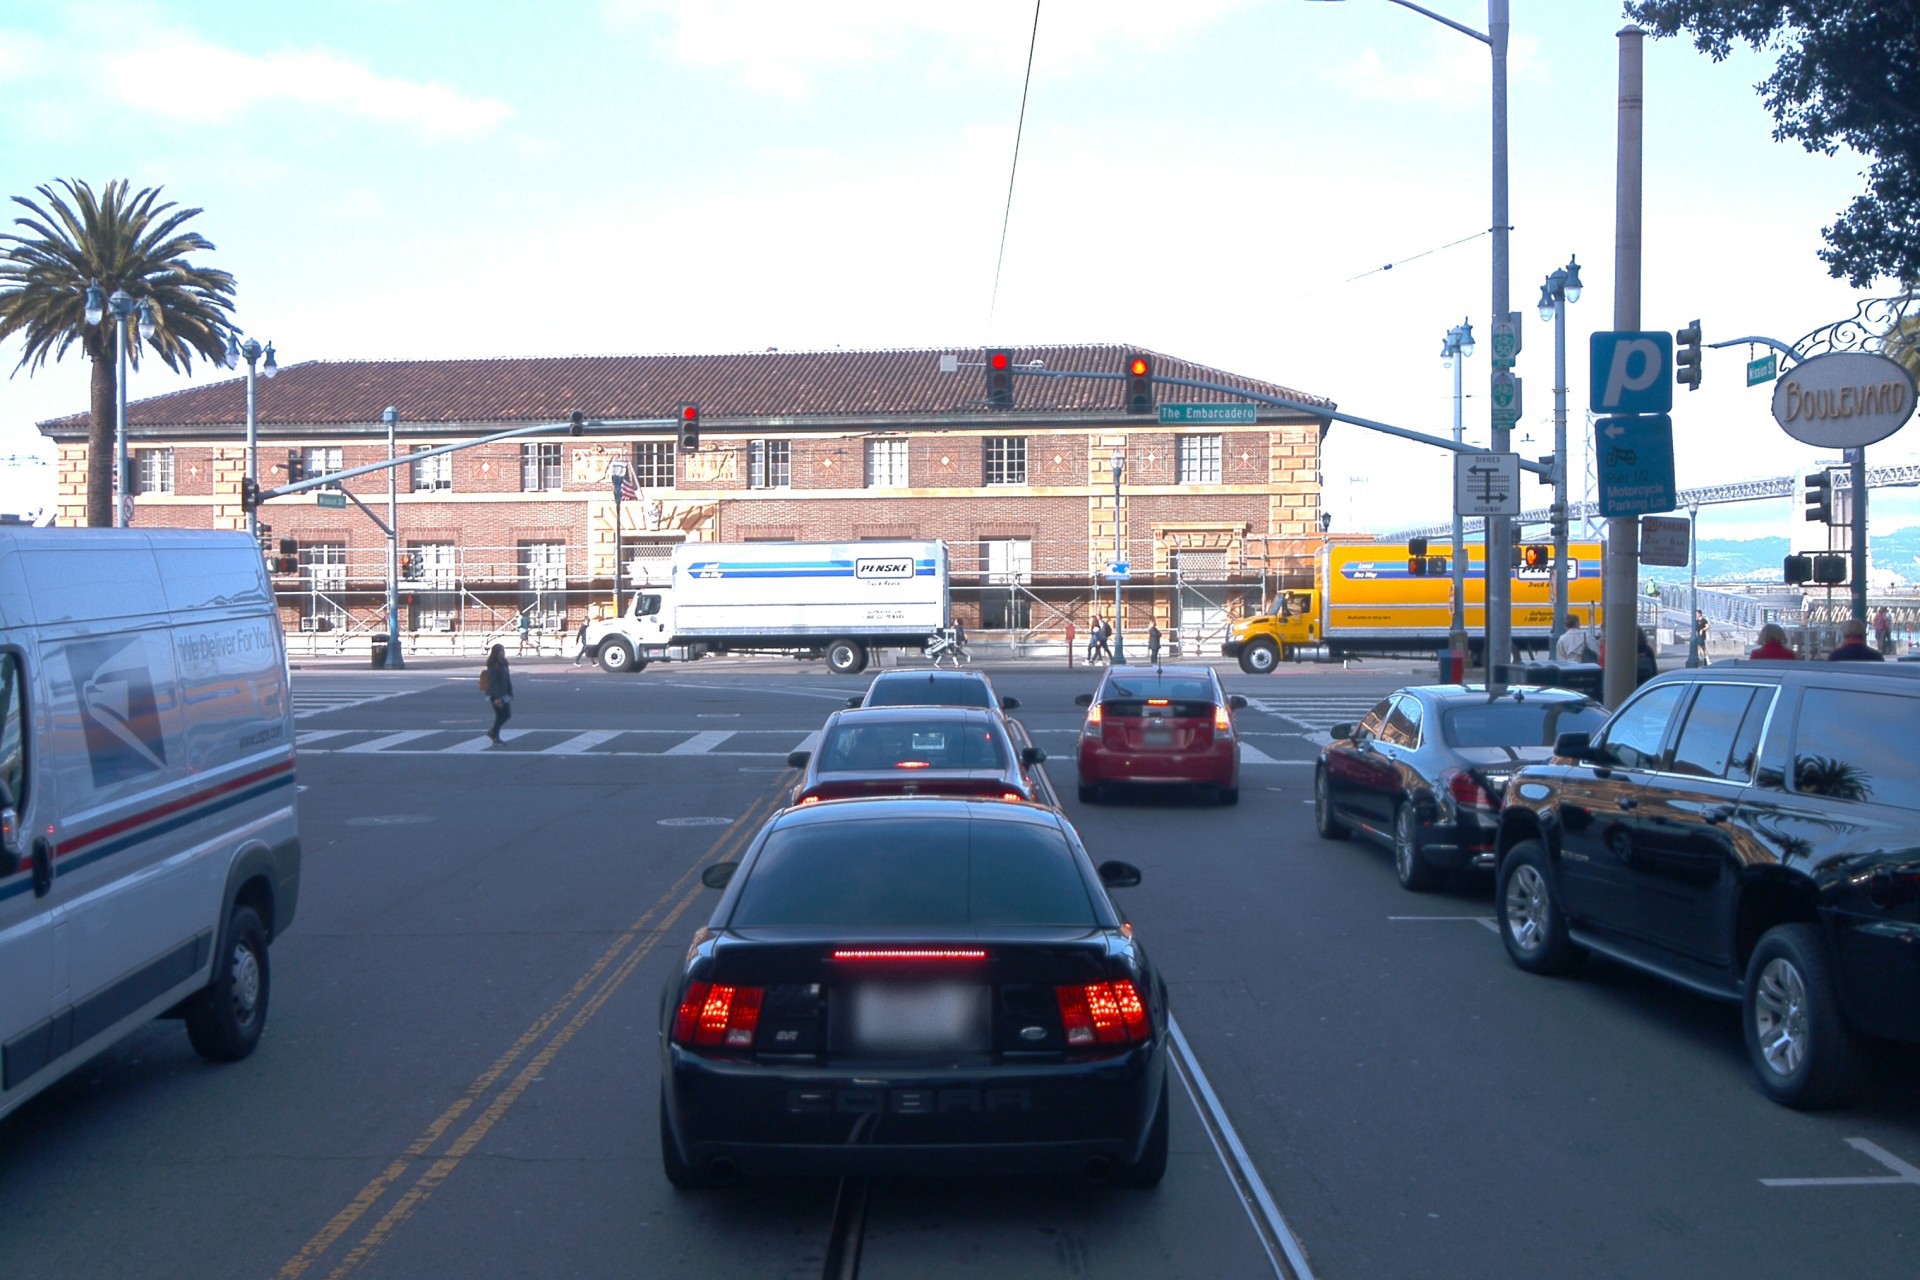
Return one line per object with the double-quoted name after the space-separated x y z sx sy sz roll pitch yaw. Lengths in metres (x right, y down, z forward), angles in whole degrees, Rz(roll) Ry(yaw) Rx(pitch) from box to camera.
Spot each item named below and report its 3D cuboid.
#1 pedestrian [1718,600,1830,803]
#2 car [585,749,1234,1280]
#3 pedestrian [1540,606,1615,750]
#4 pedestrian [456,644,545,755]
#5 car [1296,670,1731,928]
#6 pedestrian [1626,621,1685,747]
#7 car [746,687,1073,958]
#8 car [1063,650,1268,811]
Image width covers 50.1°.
7.486 0.552 18.931 0.730 1.828 0.809 0 1 3 "pedestrian"
-0.158 1.309 8.383 2.005 1.463 4.021 0 1 0 "car"
8.592 0.519 28.623 0.837 1.970 0.922 0 1 5 "pedestrian"
-6.861 0.876 30.745 1.074 1.621 0.773 0 1 12 "pedestrian"
4.227 1.130 16.719 2.062 1.630 5.189 0 1 -1 "car"
9.889 0.616 29.261 0.668 1.770 0.753 0 1 9 "pedestrian"
-0.319 1.186 14.902 2.032 1.533 4.187 0 1 0 "car"
2.309 0.944 23.473 2.102 1.570 4.550 0 1 5 "car"
